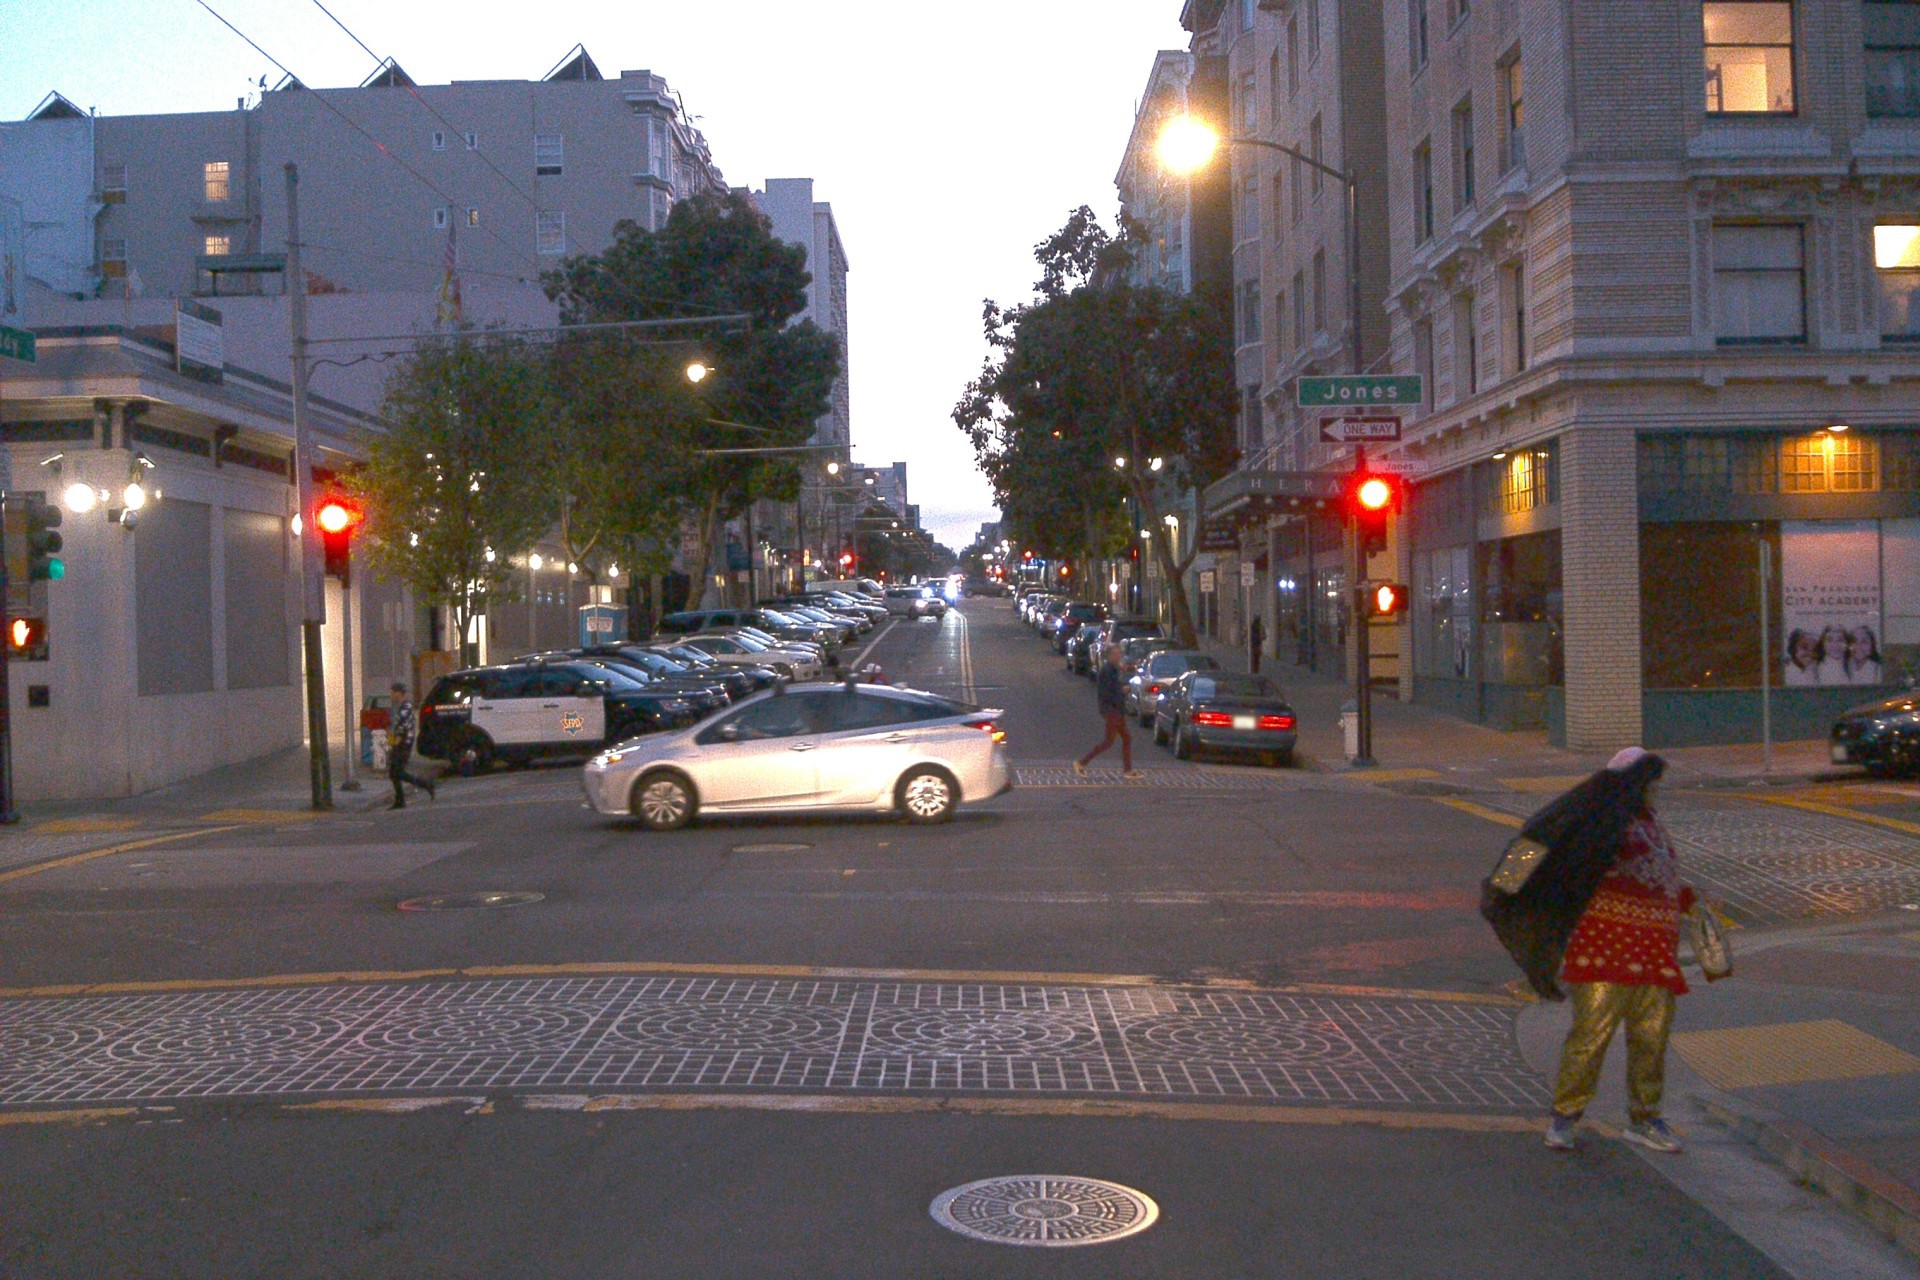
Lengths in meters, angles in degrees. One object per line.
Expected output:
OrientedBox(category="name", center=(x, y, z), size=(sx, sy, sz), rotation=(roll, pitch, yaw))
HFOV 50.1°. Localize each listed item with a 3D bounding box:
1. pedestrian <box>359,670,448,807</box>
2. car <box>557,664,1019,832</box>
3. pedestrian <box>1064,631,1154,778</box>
OrientedBox(category="pedestrian", center=(-7.598, 1.336, 28.101), size=(1.075, 1.820, 0.594), rotation=(0, 1, -4))
OrientedBox(category="car", center=(-1.713, 1.093, 21.470), size=(4.604, 1.610, 1.929), rotation=(0, 1, 1))
OrientedBox(category="pedestrian", center=(1.982, 0.853, 27.477), size=(1.098, 1.930, 0.690), rotation=(0, 1, -4))
